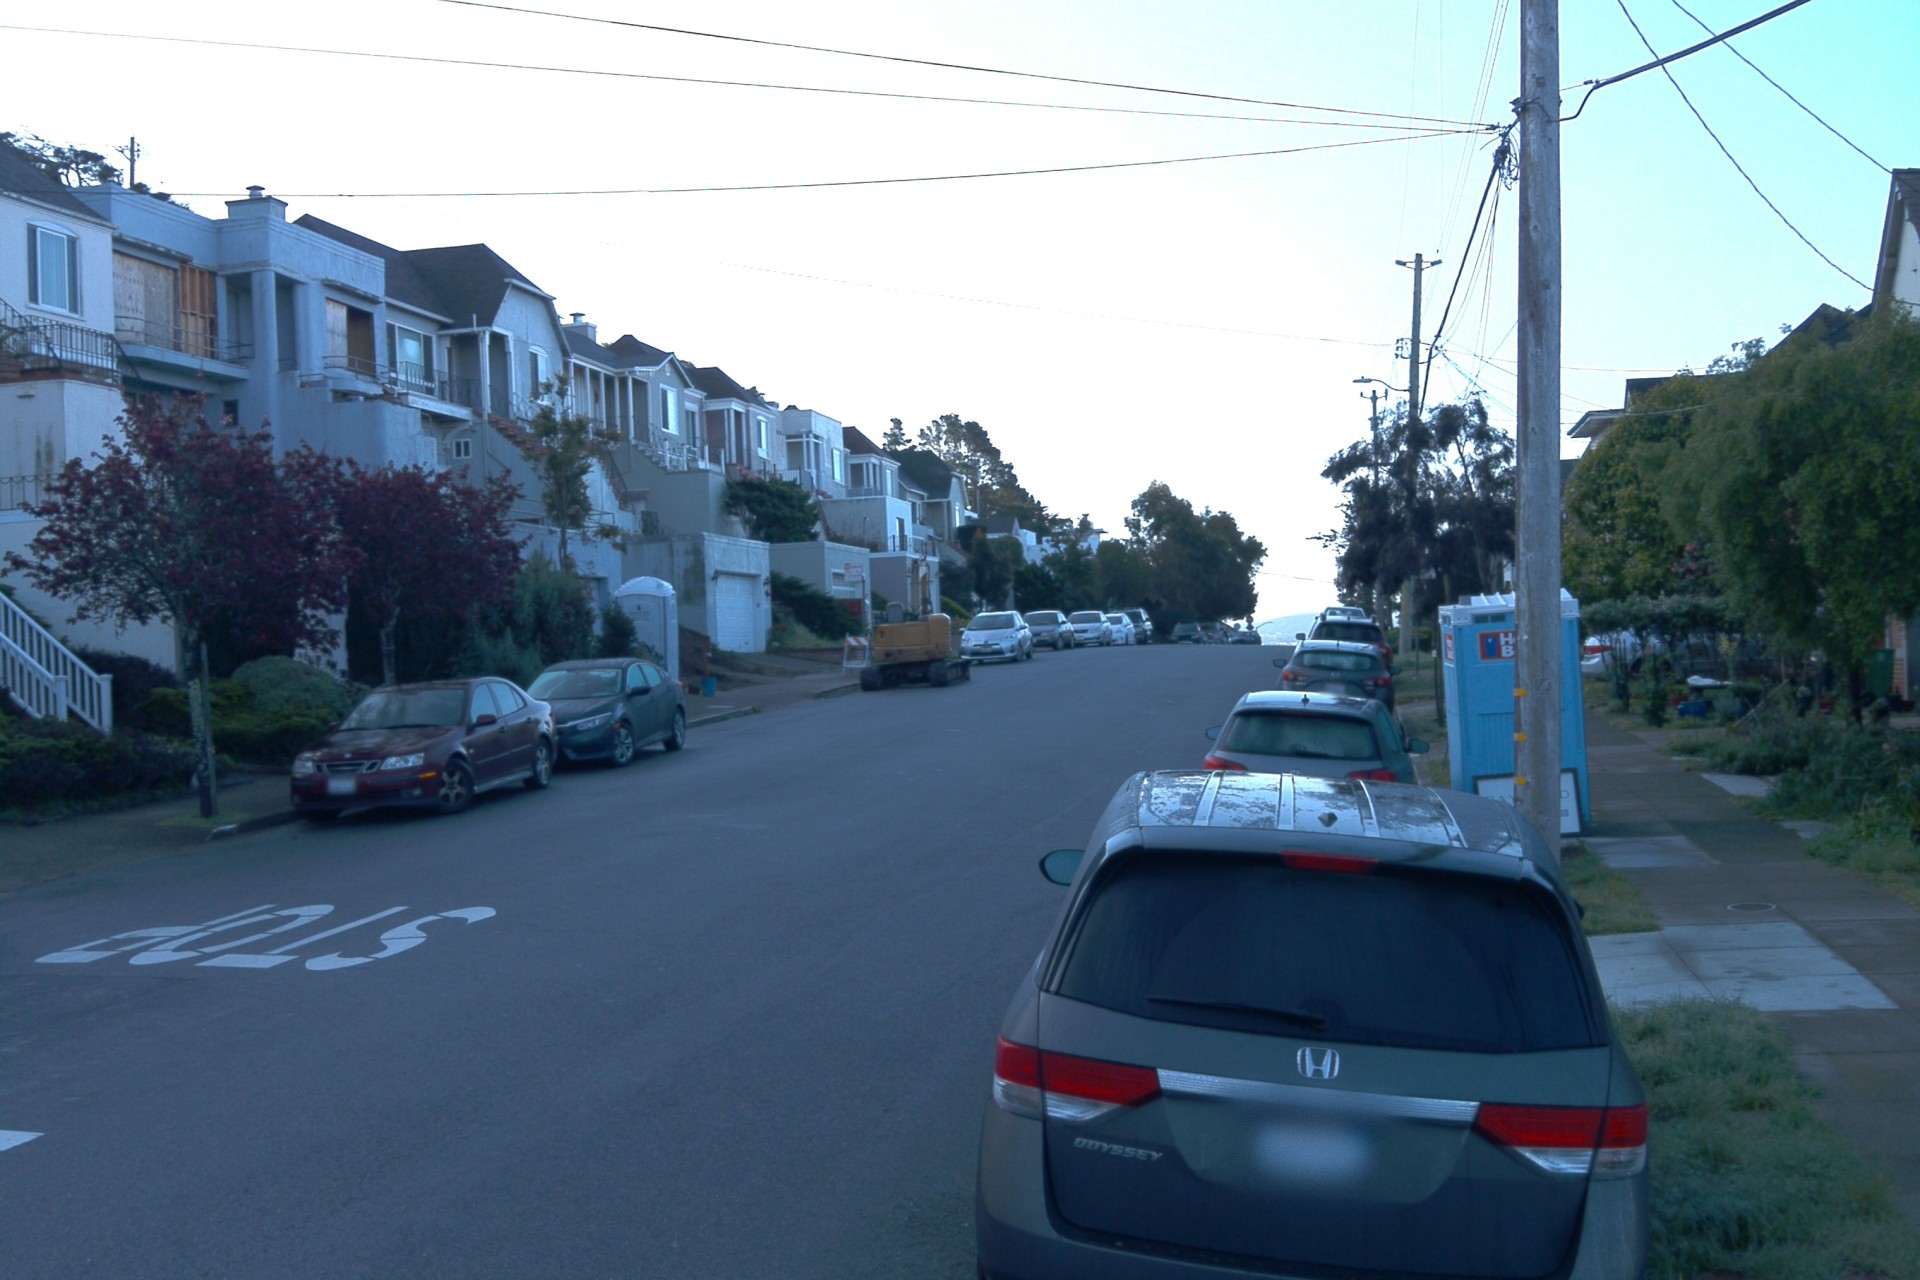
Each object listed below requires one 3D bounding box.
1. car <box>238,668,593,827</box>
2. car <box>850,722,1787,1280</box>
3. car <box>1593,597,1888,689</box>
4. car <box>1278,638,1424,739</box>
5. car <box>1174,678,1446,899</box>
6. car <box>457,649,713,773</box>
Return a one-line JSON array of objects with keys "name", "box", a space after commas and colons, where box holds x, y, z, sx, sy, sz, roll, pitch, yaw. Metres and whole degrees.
[{"name": "car", "box": [-5.996, 1.122, 23.386, 2.149, 1.560, 4.801, 0, 0, 9]}, {"name": "car", "box": [1.309, 1.350, 7.890, 2.388, 1.860, 5.193, 0, 0, 9]}, {"name": "car", "box": [13.557, 0.061, 36.060, 4.599, 1.540, 1.957, 0, 0, 13]}, {"name": "car", "box": [6.198, 0.711, 32.438, 2.105, 1.480, 4.615, 0, 0, 12]}, {"name": "car", "box": [3.223, 1.189, 18.238, 2.046, 1.630, 4.353, 0, 0, 14]}, {"name": "car", "box": [-5.111, 0.921, 28.841, 2.161, 1.560, 4.758, 0, 0, 8]}]
